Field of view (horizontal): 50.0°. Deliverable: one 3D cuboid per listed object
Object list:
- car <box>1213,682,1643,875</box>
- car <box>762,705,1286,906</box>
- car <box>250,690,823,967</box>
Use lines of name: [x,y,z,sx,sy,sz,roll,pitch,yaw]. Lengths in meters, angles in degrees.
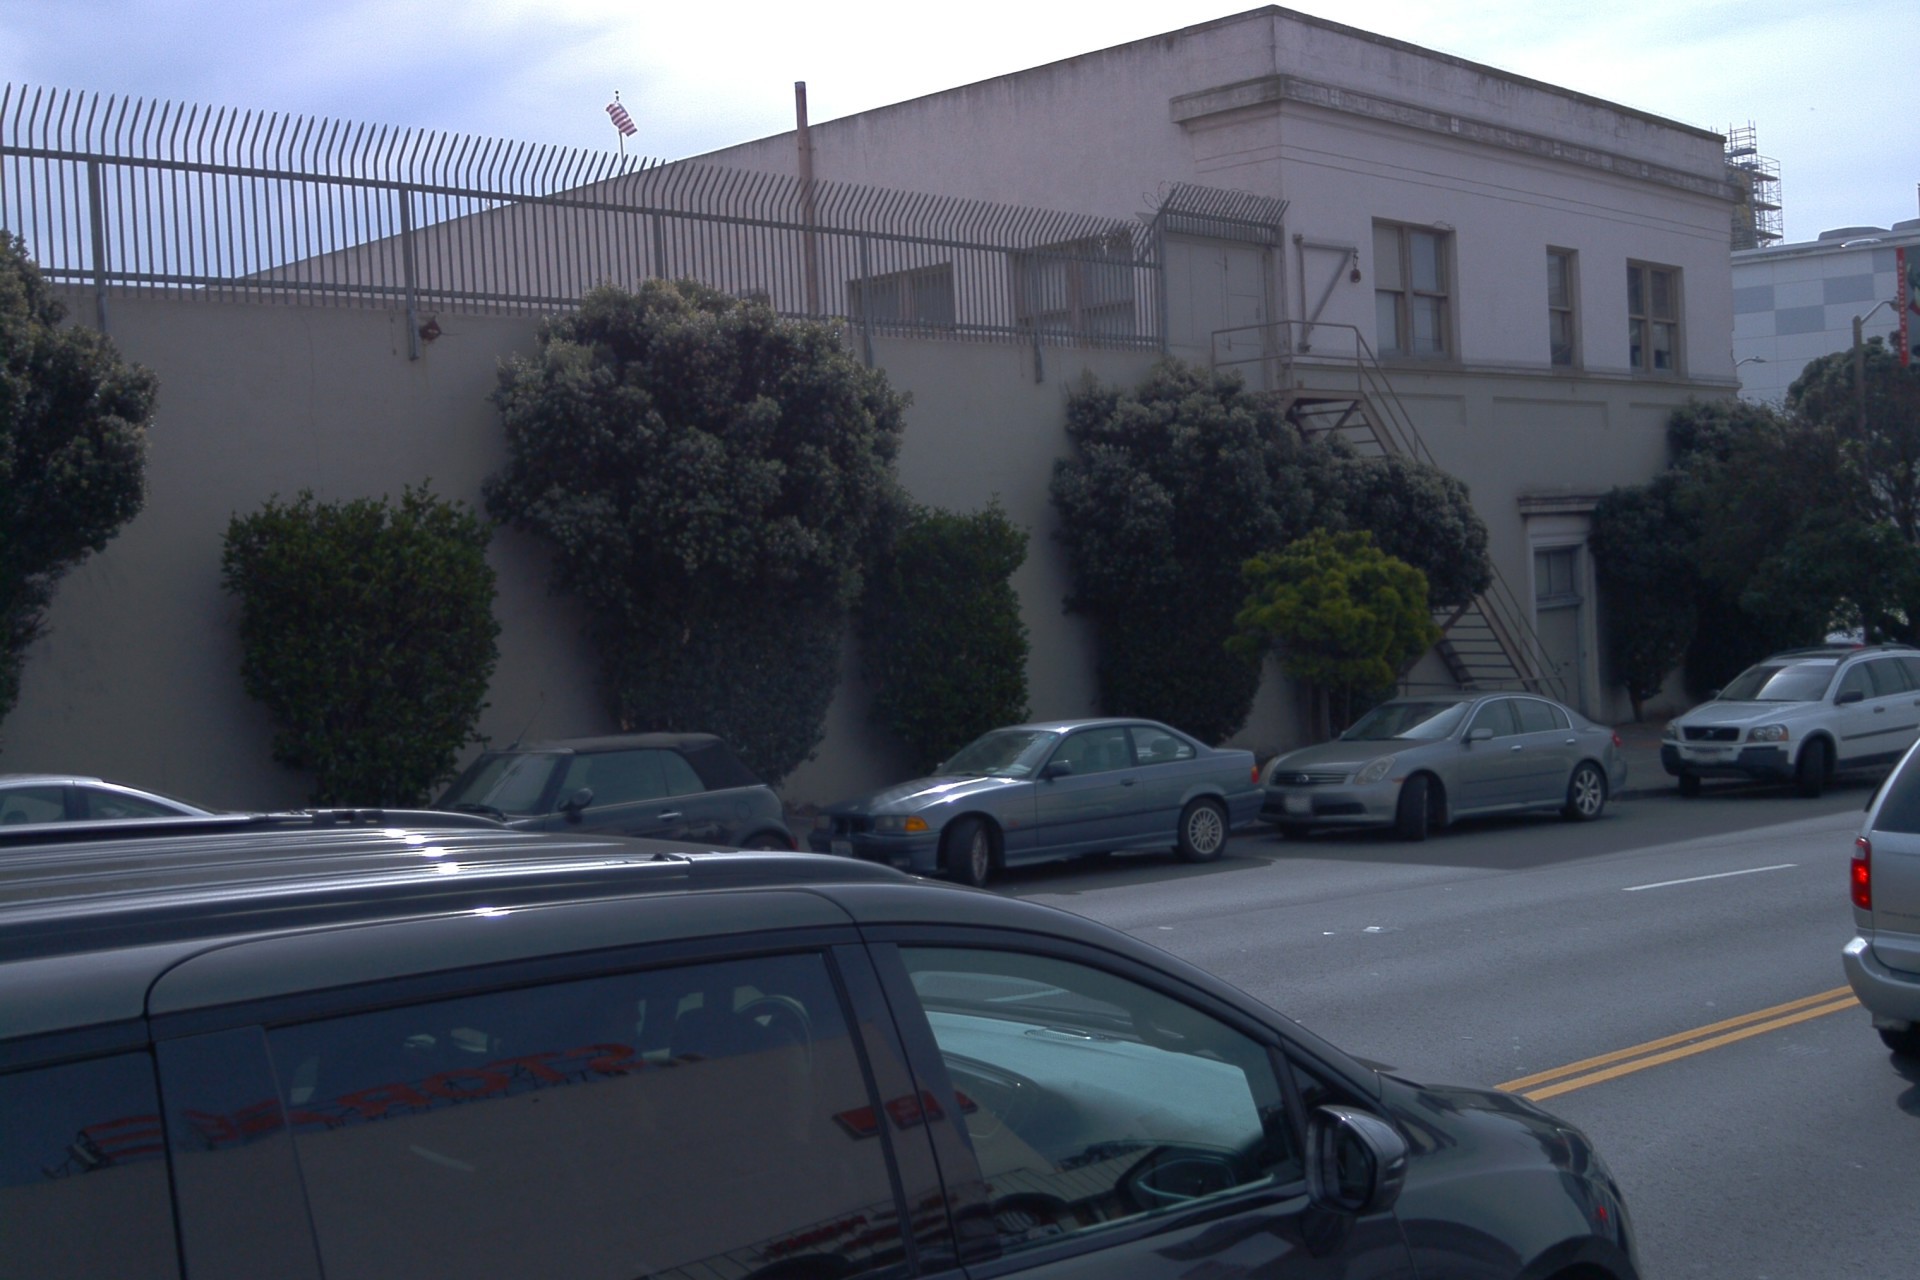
car: [5.011,1.354,21.683,4.687,1.660,2.019,-1,1,-41]
car: [0.652,1.376,18.442,4.448,1.390,2.035,-1,1,-39]
car: [-2.992,1.245,15.009,1.796,1.600,3.729,1,1,44]
